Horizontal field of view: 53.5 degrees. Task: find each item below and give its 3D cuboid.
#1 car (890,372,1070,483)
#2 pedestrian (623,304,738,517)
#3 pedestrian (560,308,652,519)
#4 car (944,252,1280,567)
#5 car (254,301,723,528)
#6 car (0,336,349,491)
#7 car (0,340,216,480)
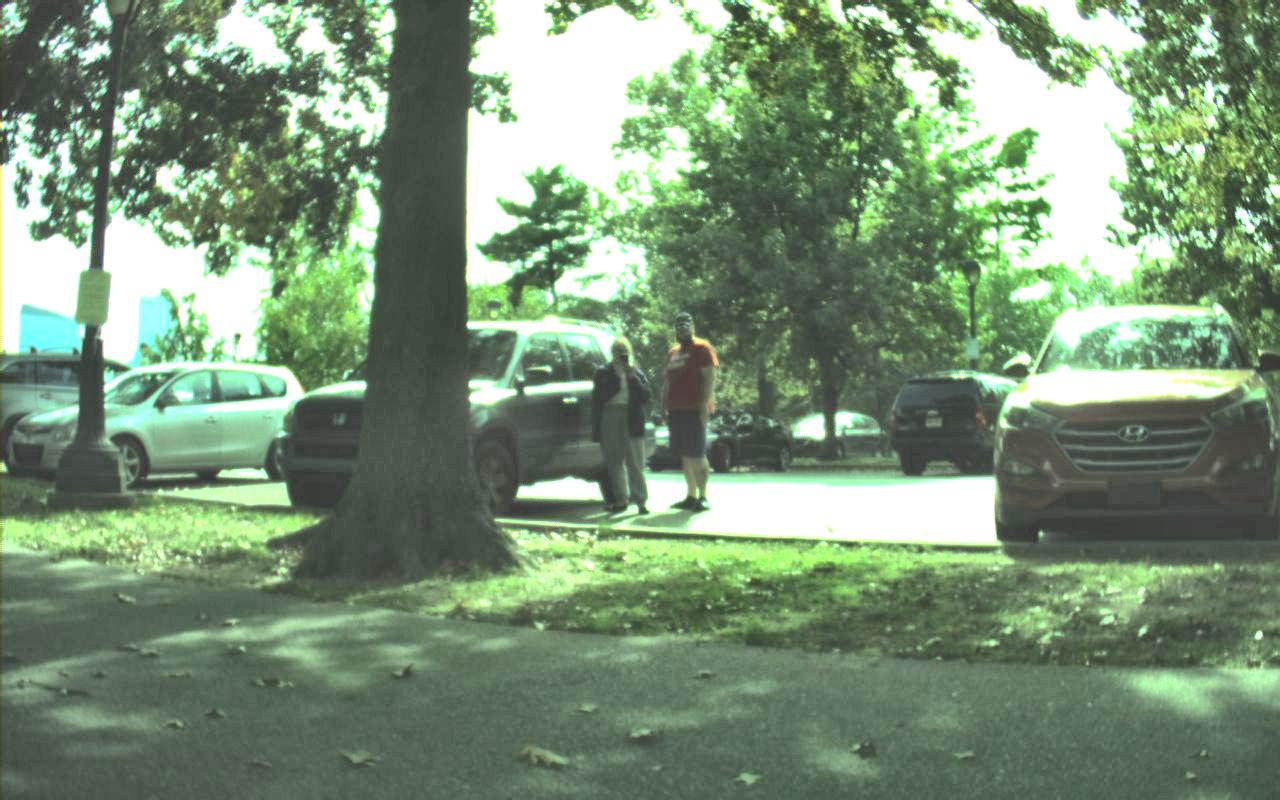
[{"bbox_3d":[6.785,0.456,24.057,2.135,1.925,4.864,1,1,34],"label":"car"},{"bbox_3d":[0.378,0.081,11.641,0.766,1.869,0.759,1,0,31],"label":"pedestrian"},{"bbox_3d":[-0.315,0.113,11.289,0.774,1.815,0.756,0,0,-5],"label":"pedestrian"},{"bbox_3d":[3.580,0.012,8.390,1.988,1.669,4.605,1,1,26],"label":"car"},{"bbox_3d":[-1.186,0.057,11.454,1.970,1.643,4.489,1,1,32],"label":"car"},{"bbox_3d":[-5.815,0.120,14.683,1.934,1.662,4.523,1,1,32],"label":"car"},{"bbox_3d":[-8.287,0.130,16.100,1.980,1.779,4.552,1,1,38],"label":"car"}]
